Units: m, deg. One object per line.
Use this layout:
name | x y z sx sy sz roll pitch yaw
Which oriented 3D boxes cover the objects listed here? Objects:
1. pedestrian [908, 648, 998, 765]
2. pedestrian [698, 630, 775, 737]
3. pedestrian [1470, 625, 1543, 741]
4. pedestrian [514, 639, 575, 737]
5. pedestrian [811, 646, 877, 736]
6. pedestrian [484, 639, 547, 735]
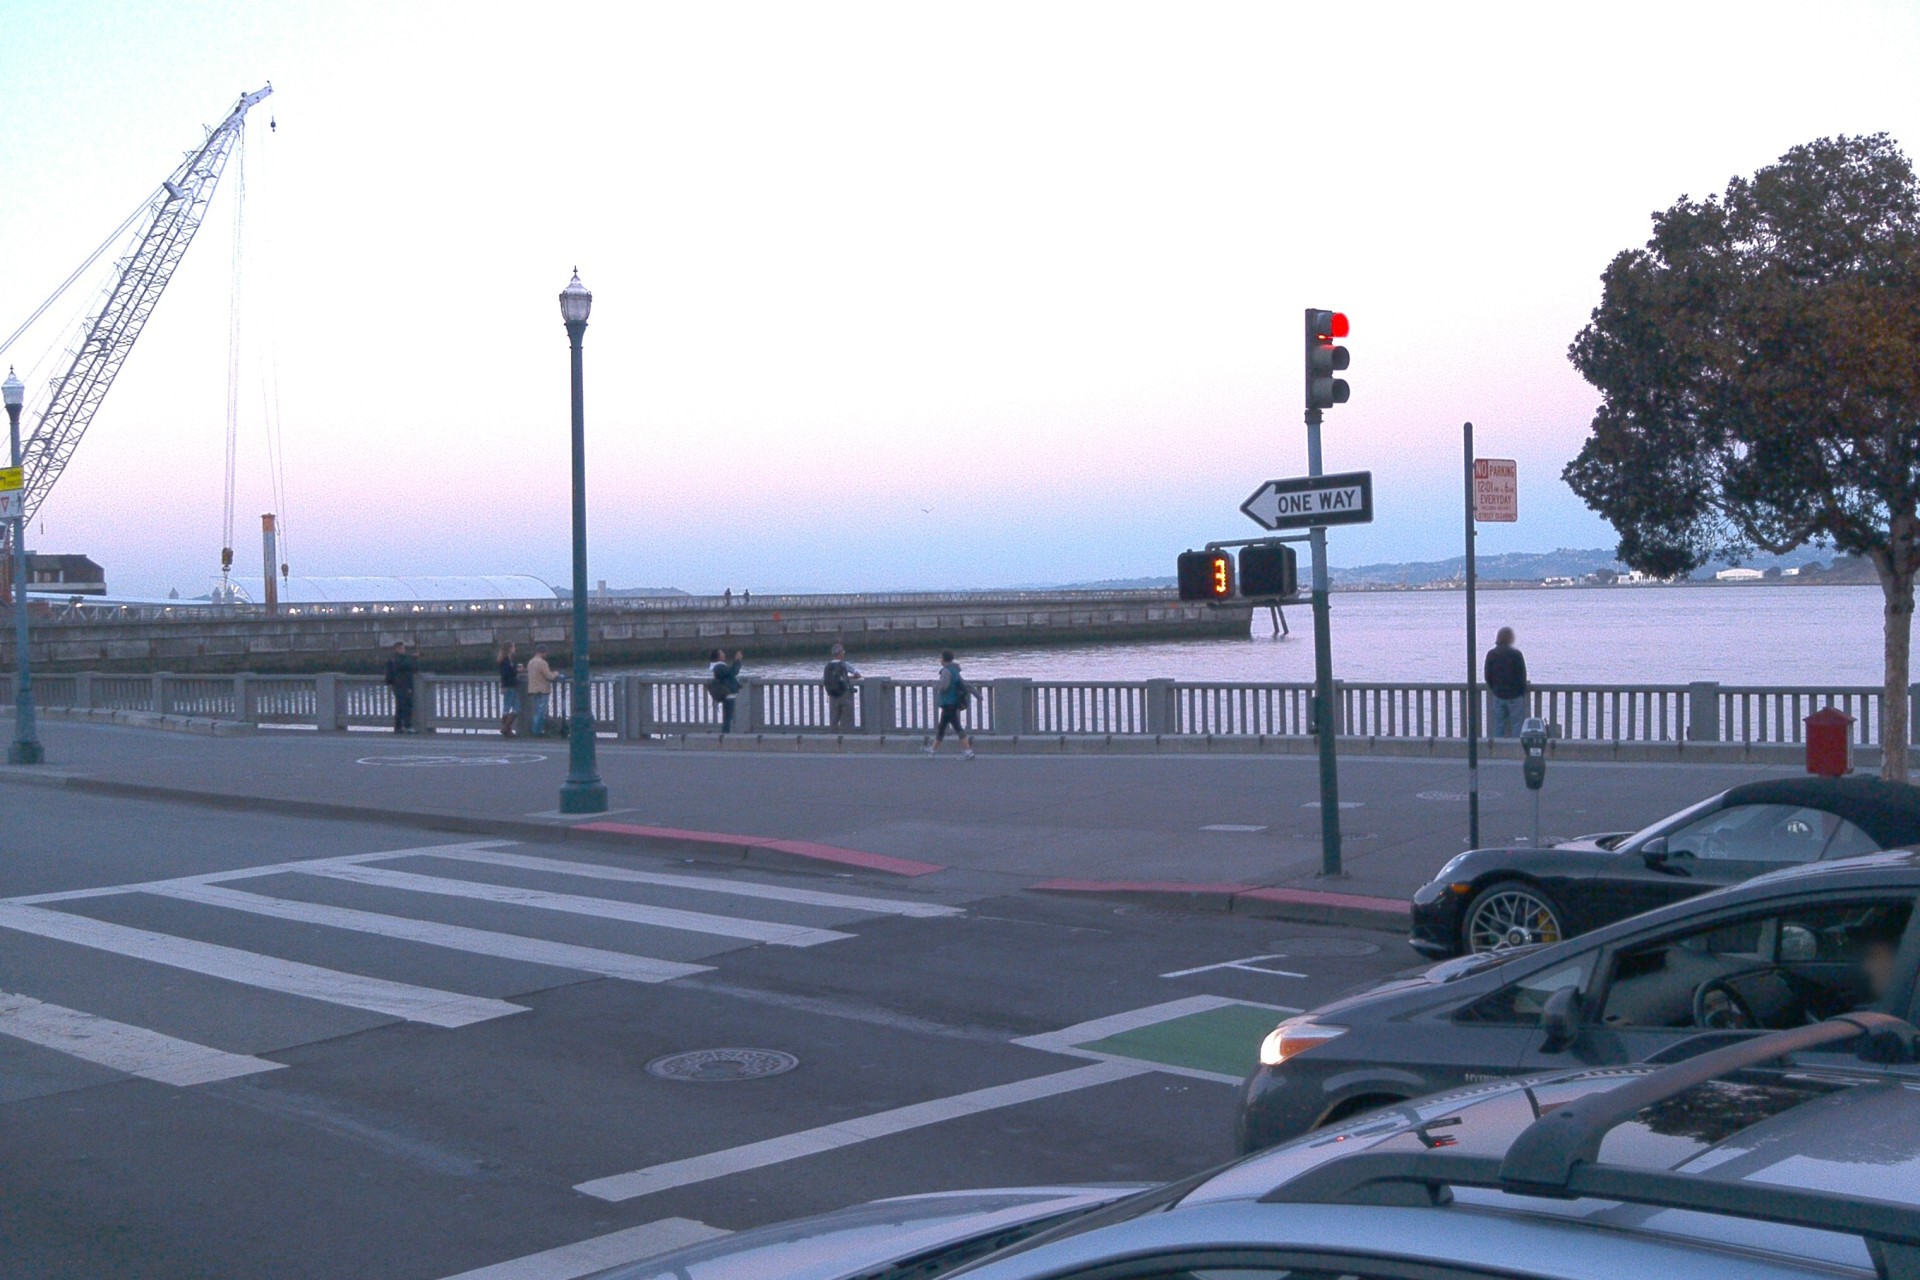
pedestrian | -0.088 0.905 28.684 0.983 1.580 0.827 0 0 25
pedestrian | -3.571 0.688 33.101 0.867 1.680 0.881 0 0 -40
pedestrian | 7.211 0.561 27.358 0.751 1.510 0.681 0 0 33
pedestrian | -7.380 0.841 36.850 0.753 1.710 0.745 0 0 33
pedestrian | -1.828 0.792 32.756 0.791 1.400 0.928 0 0 14
pedestrian | -7.972 0.835 37.196 0.731 1.710 0.825 0 0 41
